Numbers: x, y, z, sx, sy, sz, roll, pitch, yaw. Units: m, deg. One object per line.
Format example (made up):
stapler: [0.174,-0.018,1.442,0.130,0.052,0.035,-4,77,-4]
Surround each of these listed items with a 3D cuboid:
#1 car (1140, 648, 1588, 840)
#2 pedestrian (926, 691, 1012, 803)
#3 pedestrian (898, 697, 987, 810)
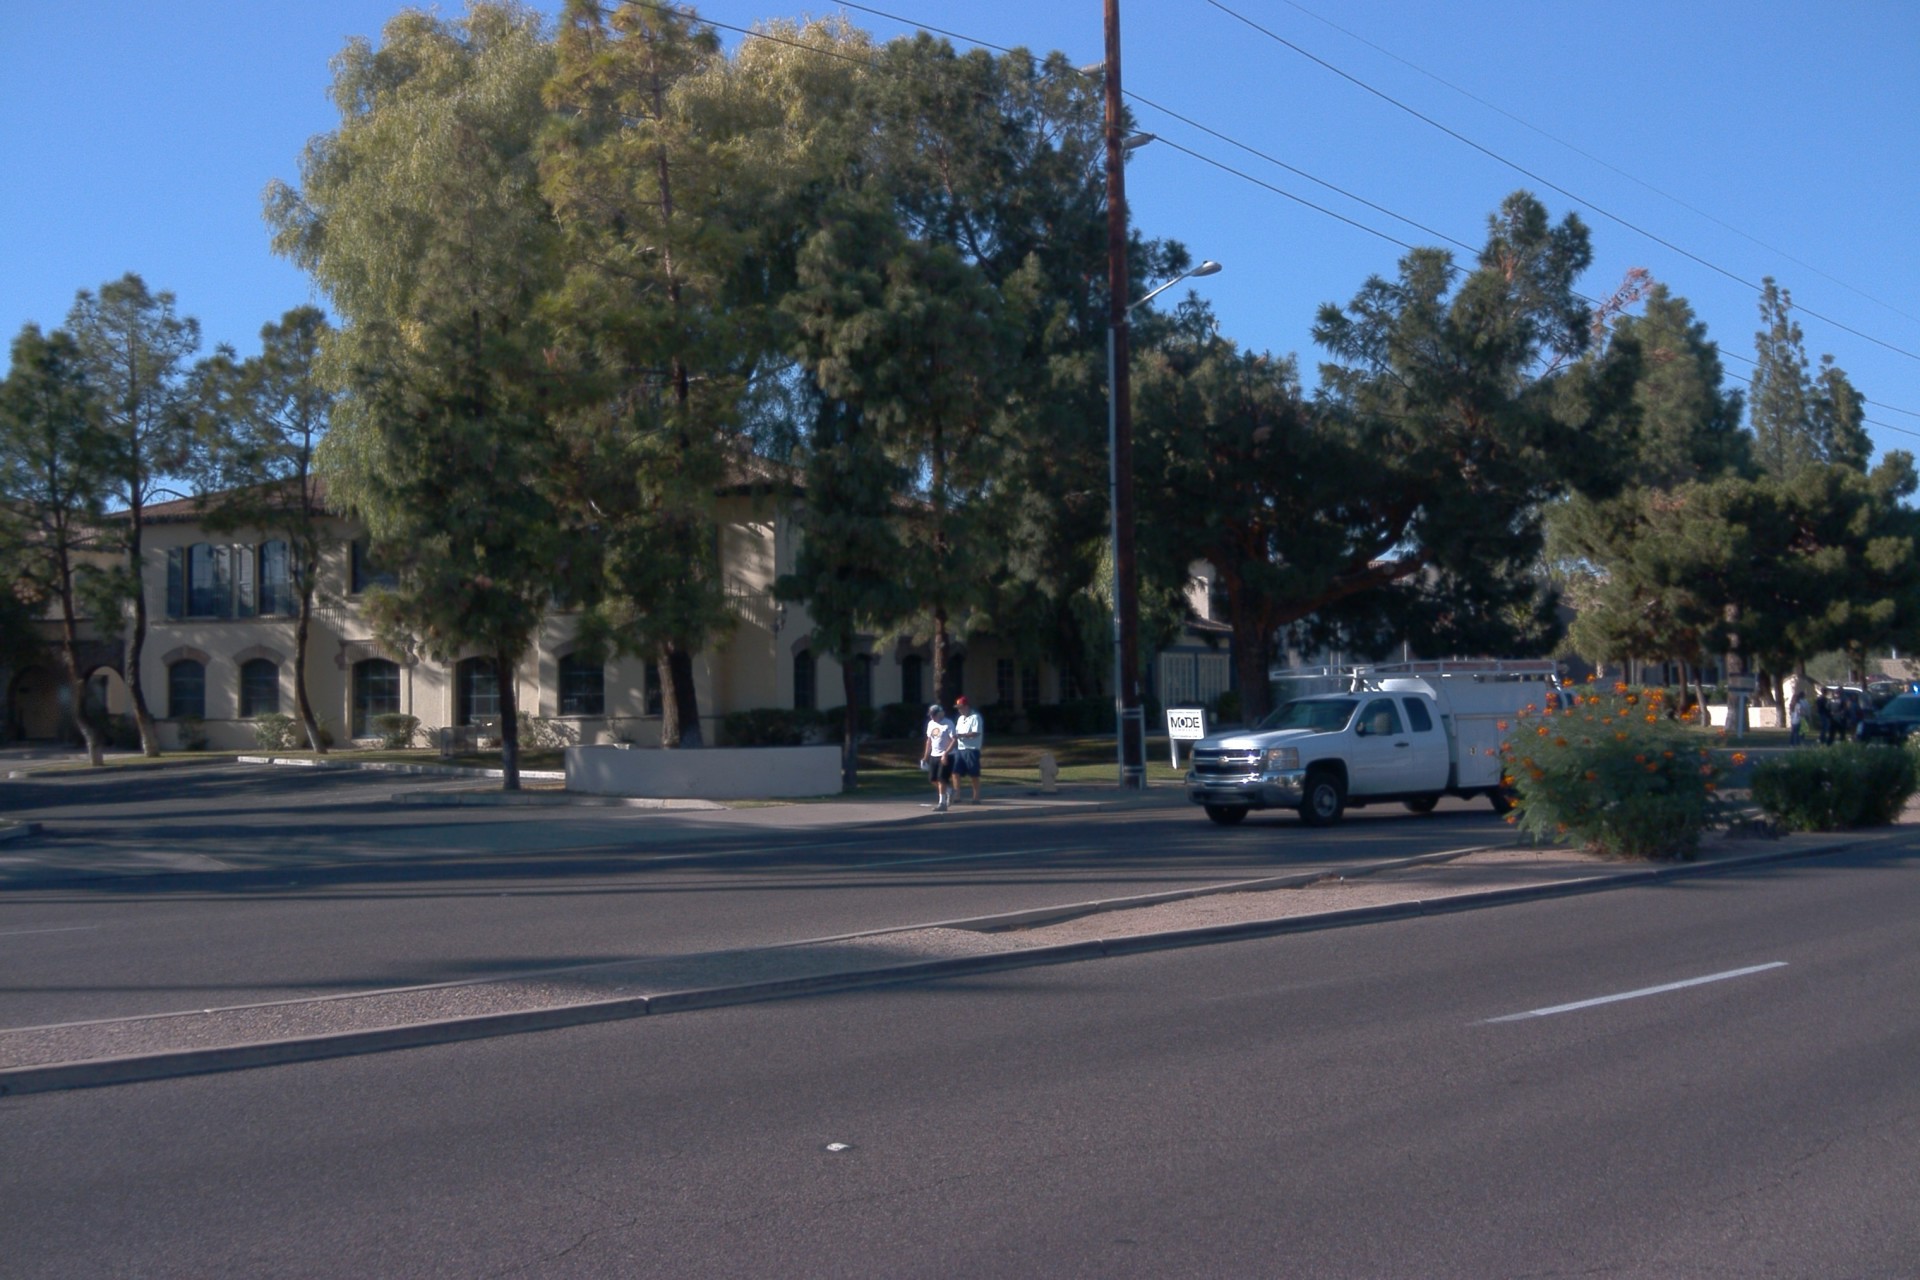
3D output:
car: [5.971,1.390,30.332,6.627,2.490,2.613,1,0,-37]
pedestrian: [0.146,1.785,35.099,1.036,1.810,0.990,1,0,-44]
pedestrian: [-0.284,1.823,33.835,0.995,1.750,1.005,0,0,44]
